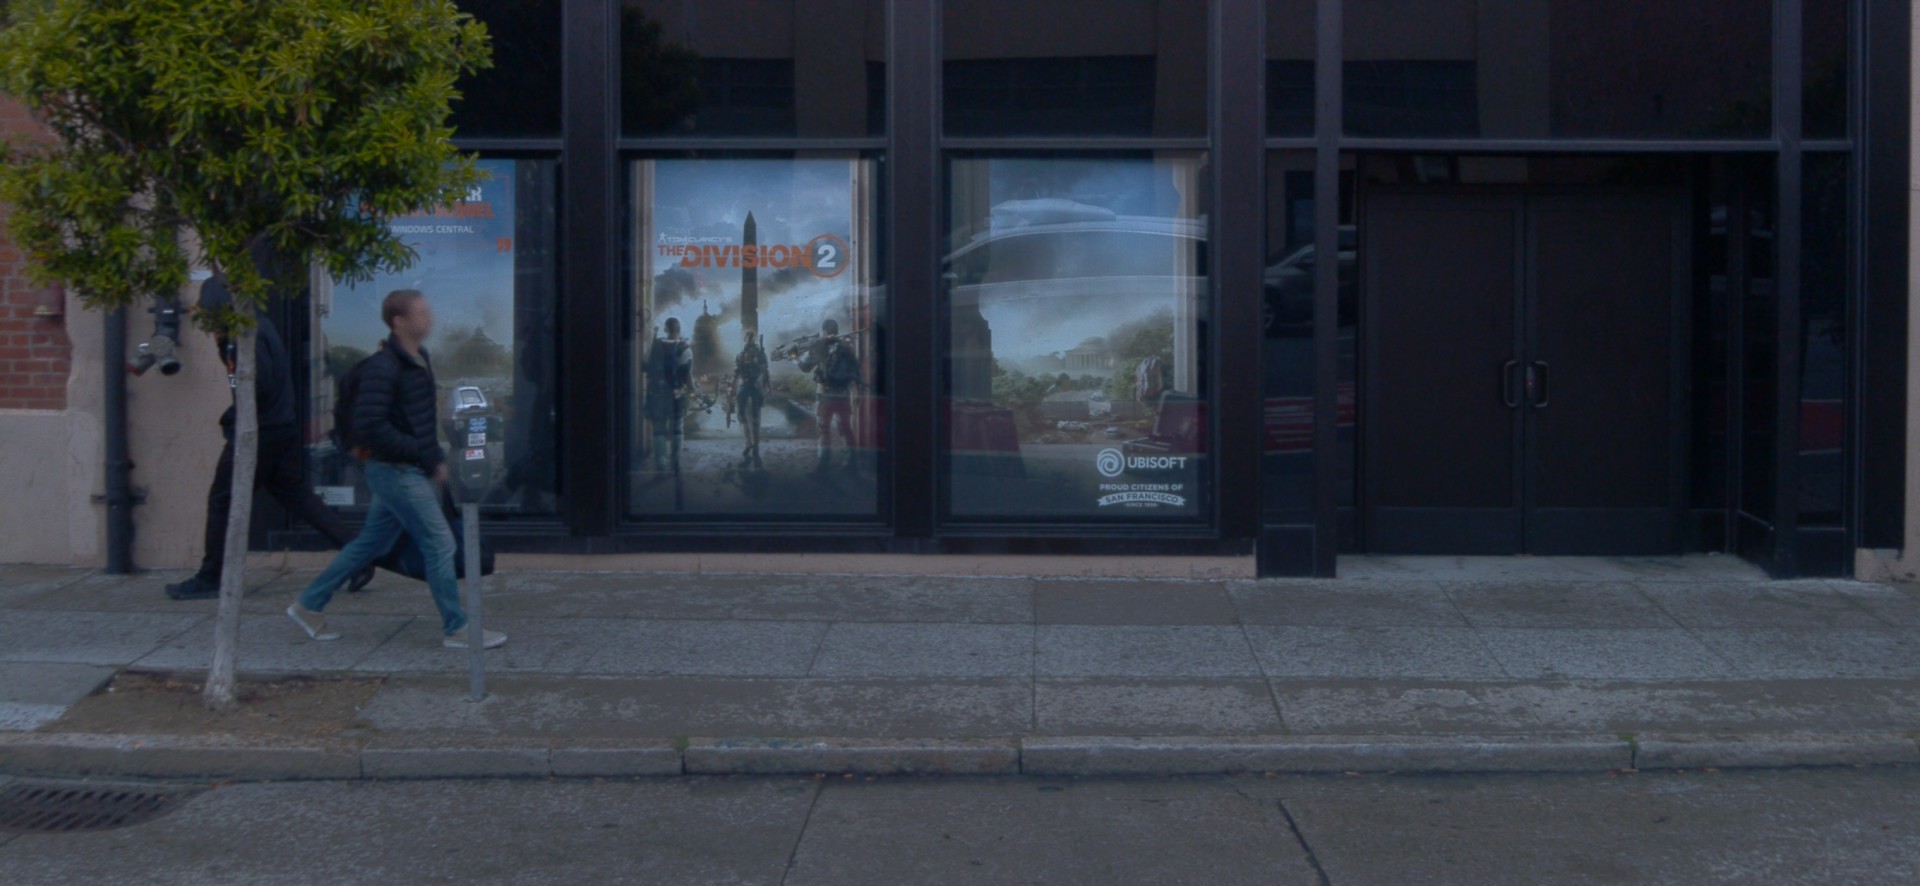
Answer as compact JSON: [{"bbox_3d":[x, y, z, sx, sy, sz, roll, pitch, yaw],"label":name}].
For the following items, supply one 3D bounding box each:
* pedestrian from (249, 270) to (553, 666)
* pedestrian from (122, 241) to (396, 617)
[{"bbox_3d":[-2.582,0.071,9.680,1.119,1.728,0.990,0,2,2],"label":"pedestrian"},{"bbox_3d":[-3.572,-0.109,10.616,1.118,1.846,0.806,0,2,0],"label":"pedestrian"}]
